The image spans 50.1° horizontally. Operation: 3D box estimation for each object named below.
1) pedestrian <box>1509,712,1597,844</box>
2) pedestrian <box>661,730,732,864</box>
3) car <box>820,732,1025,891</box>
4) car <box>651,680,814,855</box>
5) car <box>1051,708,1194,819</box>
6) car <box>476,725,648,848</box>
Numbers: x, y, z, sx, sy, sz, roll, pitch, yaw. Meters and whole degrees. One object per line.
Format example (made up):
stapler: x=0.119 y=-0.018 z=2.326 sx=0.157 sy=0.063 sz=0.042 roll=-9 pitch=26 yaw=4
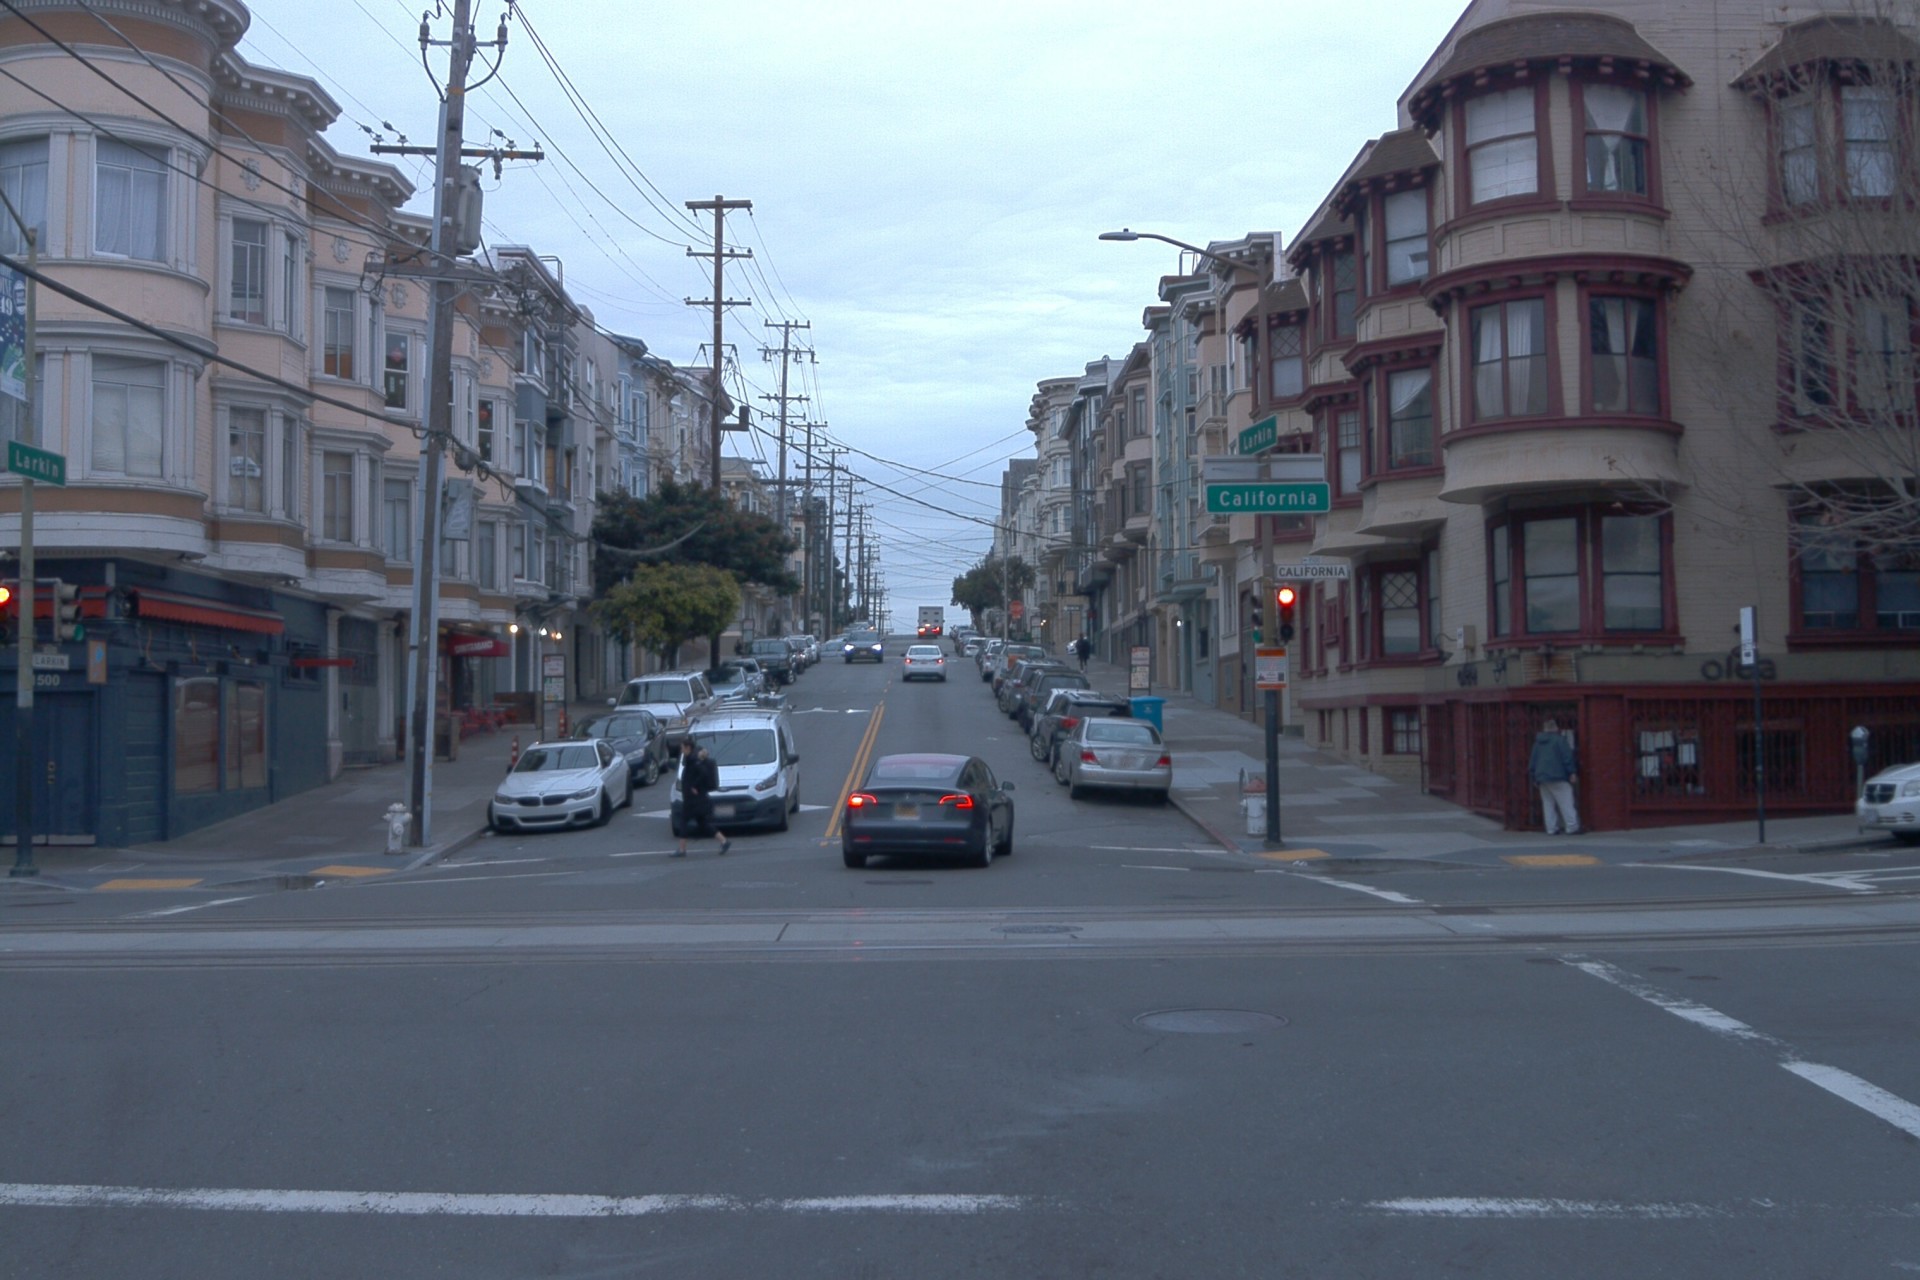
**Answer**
pedestrian: x=8.727 y=2.008 z=30.267 sx=0.902 sy=1.830 sz=0.919 roll=-1 pitch=1 yaw=-44
pedestrian: x=-3.710 y=2.206 z=29.017 sx=0.943 sy=1.820 sz=0.722 roll=0 pitch=1 yaw=-5
car: x=-0.385 y=2.179 z=27.338 sx=2.067 sy=1.630 sz=4.713 roll=0 pitch=1 yaw=7
car: x=-3.621 y=1.986 z=33.587 sx=2.196 sy=2.490 sz=4.690 roll=0 pitch=1 yaw=-1
car: x=2.936 y=2.236 z=38.183 sx=2.108 sy=1.700 sz=4.470 roll=0 pitch=1 yaw=-2
car: x=-6.813 y=2.477 z=35.707 sx=2.150 sy=1.707 sz=4.680 roll=0 pitch=1 yaw=-1
